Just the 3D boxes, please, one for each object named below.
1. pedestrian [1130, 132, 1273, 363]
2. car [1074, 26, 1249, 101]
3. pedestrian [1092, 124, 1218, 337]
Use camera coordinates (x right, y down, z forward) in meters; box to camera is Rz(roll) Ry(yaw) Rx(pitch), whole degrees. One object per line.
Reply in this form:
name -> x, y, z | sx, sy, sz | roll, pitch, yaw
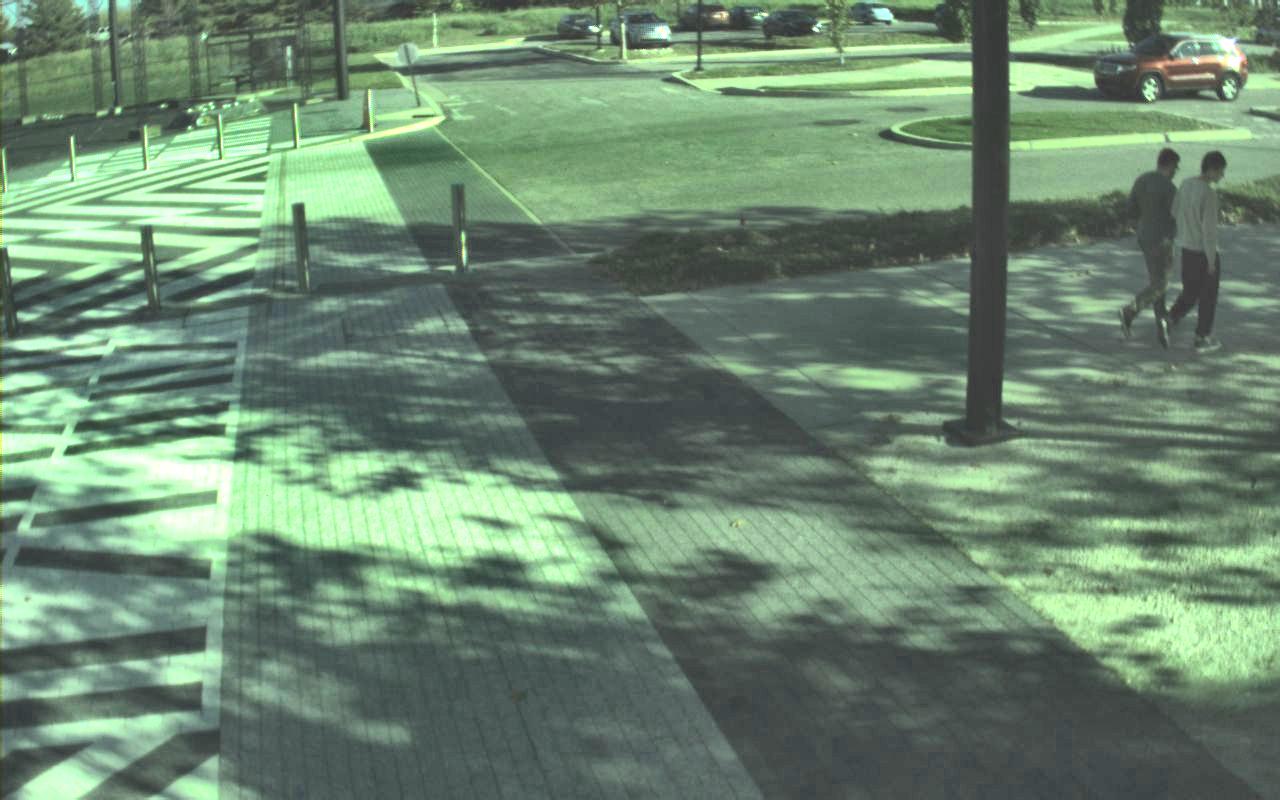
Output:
pedestrian -> 4.652, -1.268, 9.542 | 0.871, 1.760, 0.809 | -4, 16, -10
car -> 13.834, -8.820, 30.116 | 4.740, 1.652, 2.020 | -6, 17, -15
pedestrian -> 4.512, -1.488, 10.244 | 0.817, 1.731, 0.762 | -5, 16, -12
